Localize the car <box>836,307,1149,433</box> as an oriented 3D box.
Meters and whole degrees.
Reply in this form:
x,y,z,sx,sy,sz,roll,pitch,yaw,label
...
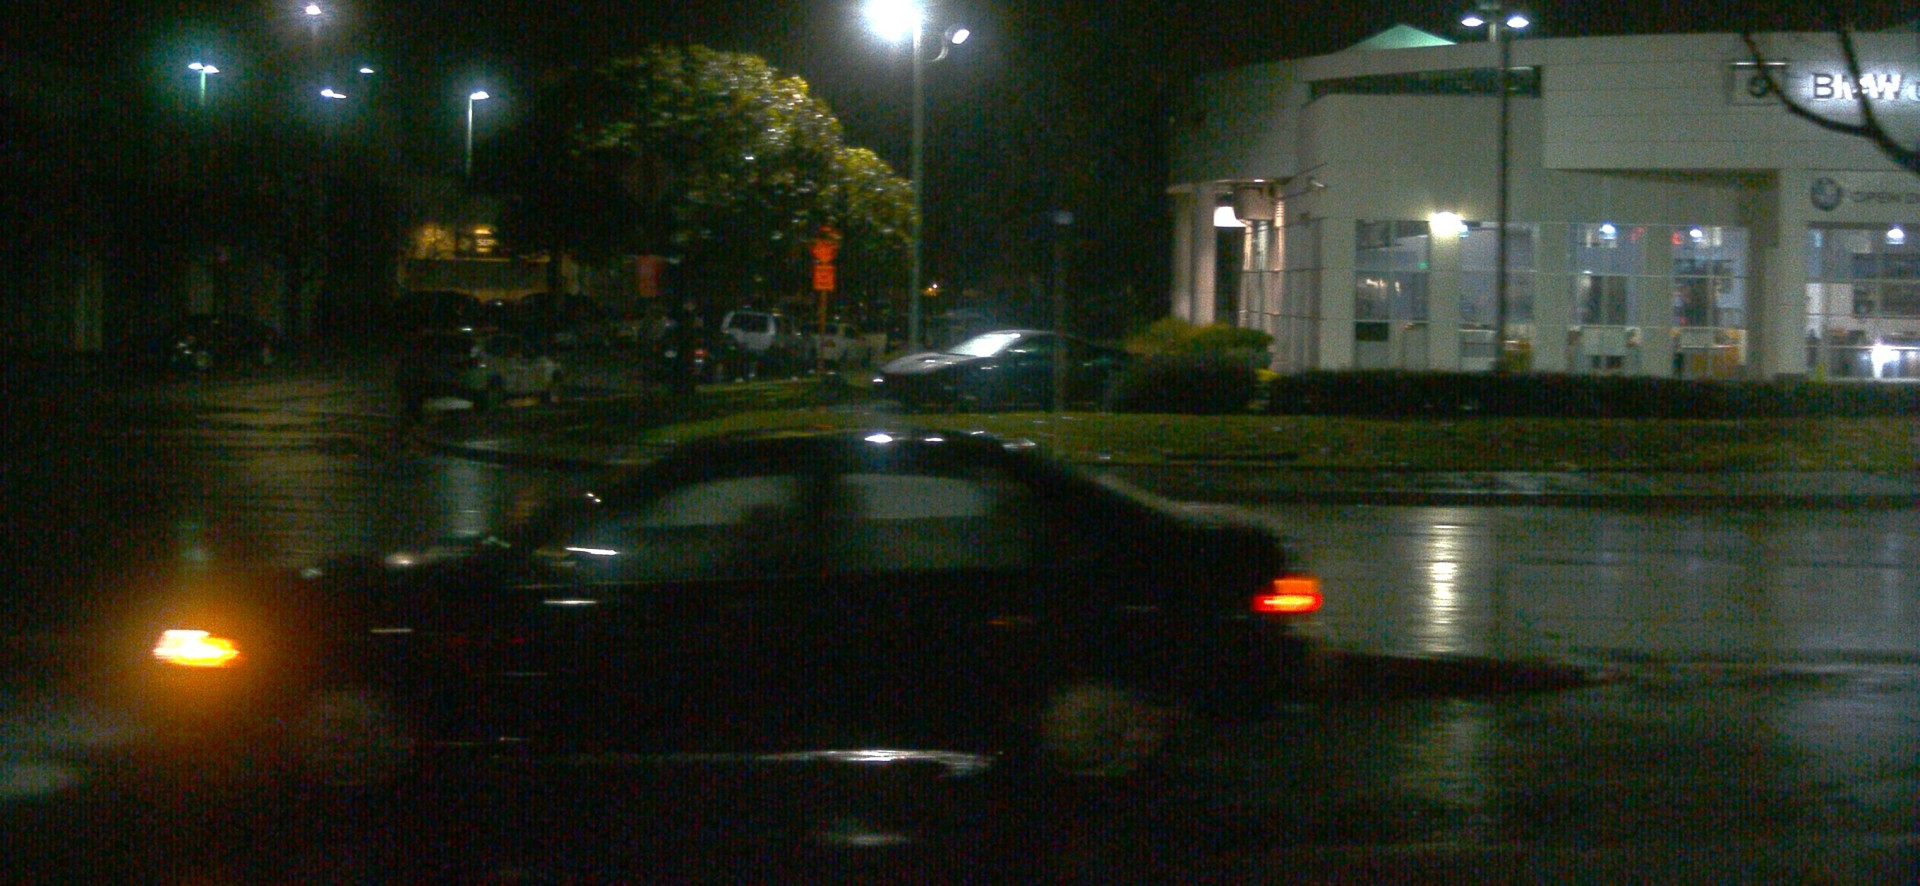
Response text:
x,y,z,sx,sy,sz,roll,pitch,yaw,label
0.568,-1.275,34.374,4.785,1.835,2.186,-3,5,-35,car

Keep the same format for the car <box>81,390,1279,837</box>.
x,y,z,sx,sy,sz,roll,pitch,yaw,label
-1.053,0.590,8.561,4.316,1.437,1.930,0,4,-6,car
